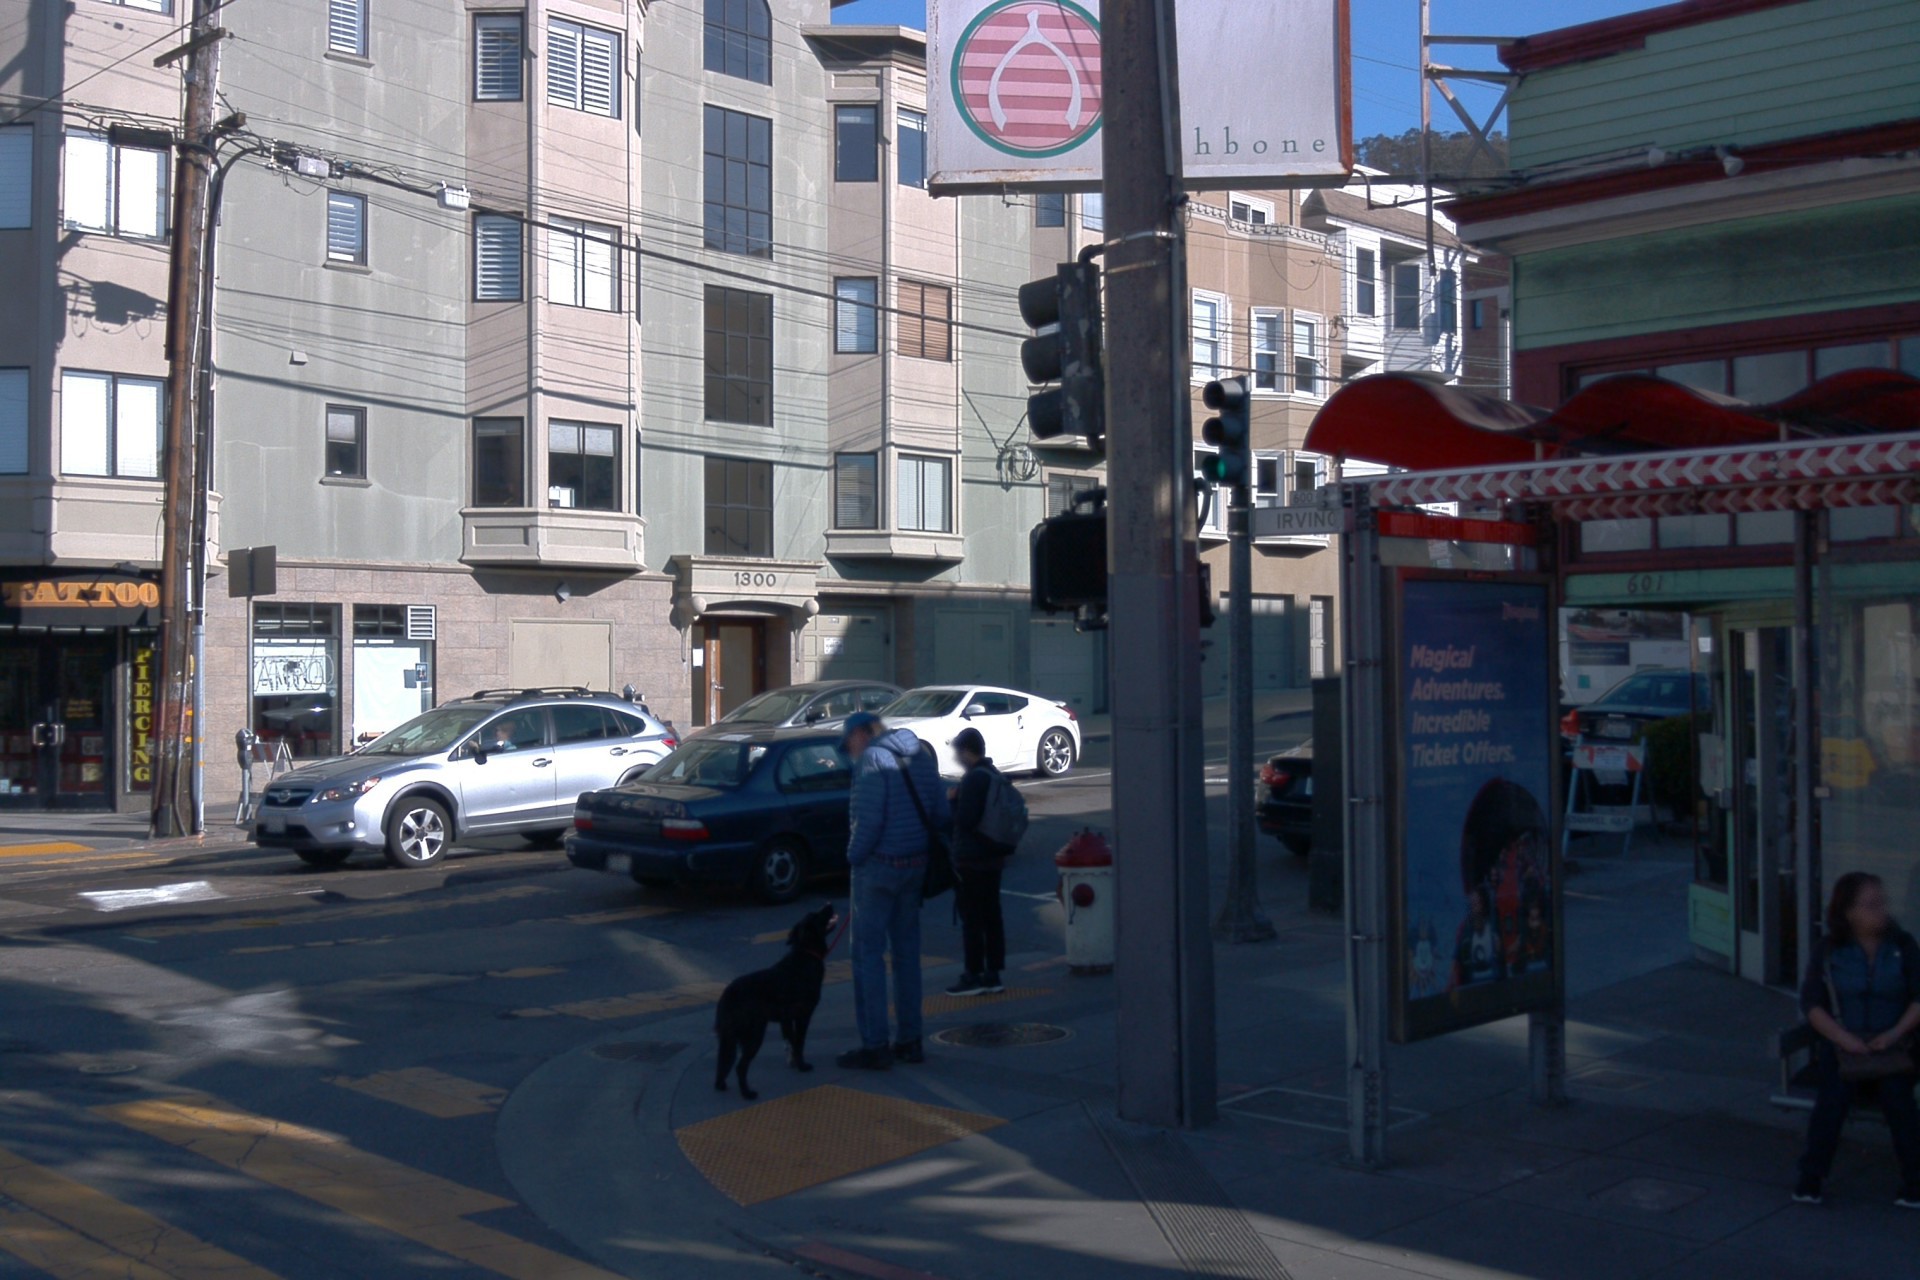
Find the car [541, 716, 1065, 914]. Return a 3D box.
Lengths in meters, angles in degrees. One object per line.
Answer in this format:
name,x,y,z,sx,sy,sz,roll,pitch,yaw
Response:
car,-1.243,1.419,18.289,1.876,1.380,4.494,0,0,42

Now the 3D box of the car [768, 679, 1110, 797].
car,-0.218,1.229,27.642,4.248,1.390,2.004,1,0,-43

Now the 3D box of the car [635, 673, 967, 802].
car,-2.216,1.334,30.143,2.102,1.670,4.524,0,0,43

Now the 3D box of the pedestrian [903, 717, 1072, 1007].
pedestrian,0.167,1.348,13.044,0.687,1.700,0.778,0,0,-43

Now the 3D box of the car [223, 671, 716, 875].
car,-4.748,1.205,20.781,1.930,1.770,4.447,0,0,42

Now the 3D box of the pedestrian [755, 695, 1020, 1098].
pedestrian,-0.362,1.221,10.490,0.894,1.860,0.955,1,0,44
